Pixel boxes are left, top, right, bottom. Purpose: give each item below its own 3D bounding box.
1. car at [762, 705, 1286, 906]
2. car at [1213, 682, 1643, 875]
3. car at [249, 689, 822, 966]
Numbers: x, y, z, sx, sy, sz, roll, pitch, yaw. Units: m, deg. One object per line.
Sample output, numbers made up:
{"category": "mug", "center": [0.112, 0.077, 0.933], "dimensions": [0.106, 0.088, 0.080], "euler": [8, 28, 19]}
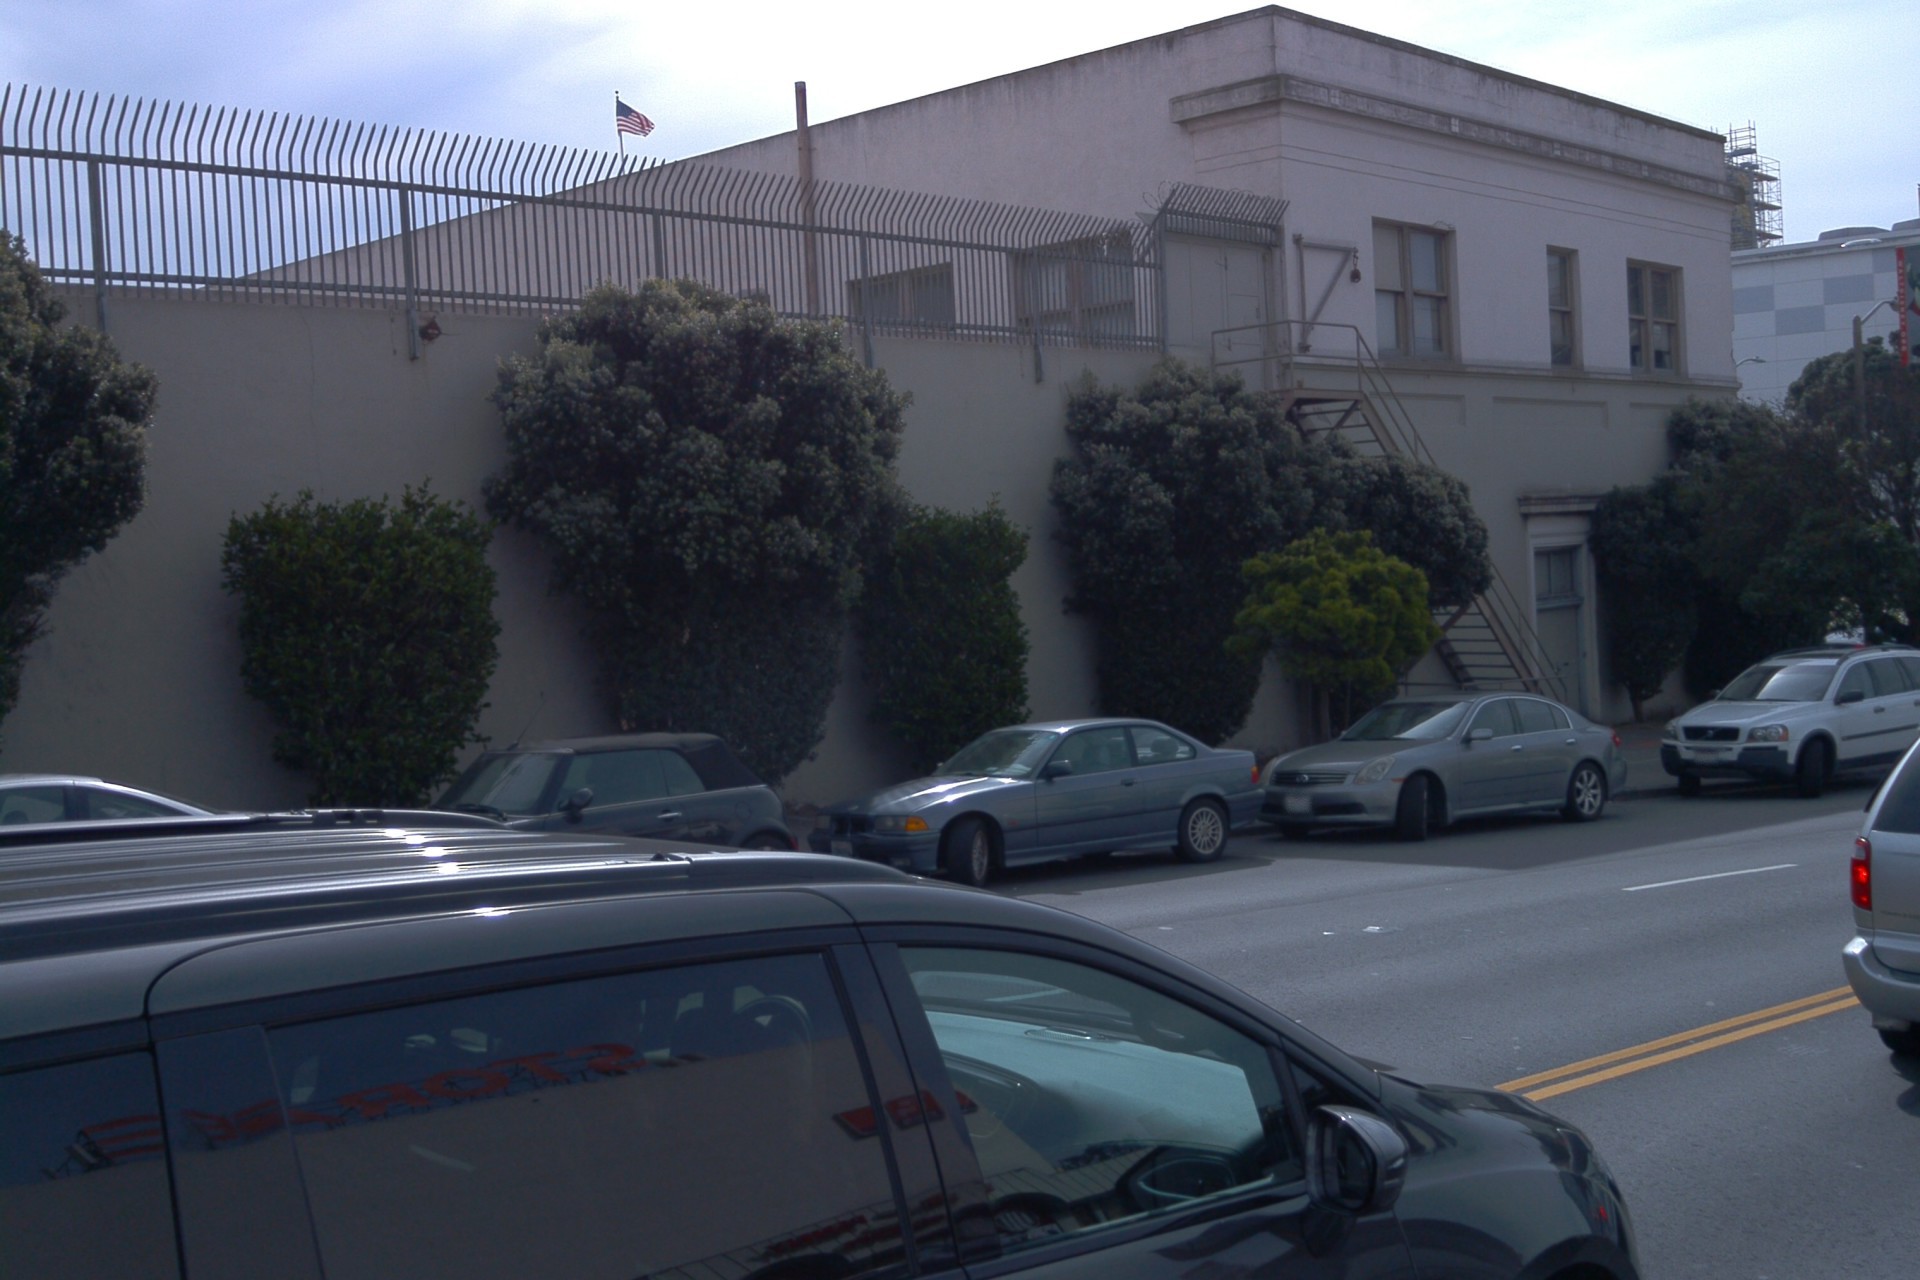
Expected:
{"category": "car", "center": [0.651, 1.379, 18.443], "dimensions": [4.448, 1.390, 2.035], "euler": [-1, 1, -39]}
{"category": "car", "center": [5.011, 1.355, 21.683], "dimensions": [4.687, 1.660, 2.019], "euler": [-1, 1, -41]}
{"category": "car", "center": [-2.993, 1.238, 15.004], "dimensions": [1.796, 1.600, 3.729], "euler": [1, 1, 44]}
